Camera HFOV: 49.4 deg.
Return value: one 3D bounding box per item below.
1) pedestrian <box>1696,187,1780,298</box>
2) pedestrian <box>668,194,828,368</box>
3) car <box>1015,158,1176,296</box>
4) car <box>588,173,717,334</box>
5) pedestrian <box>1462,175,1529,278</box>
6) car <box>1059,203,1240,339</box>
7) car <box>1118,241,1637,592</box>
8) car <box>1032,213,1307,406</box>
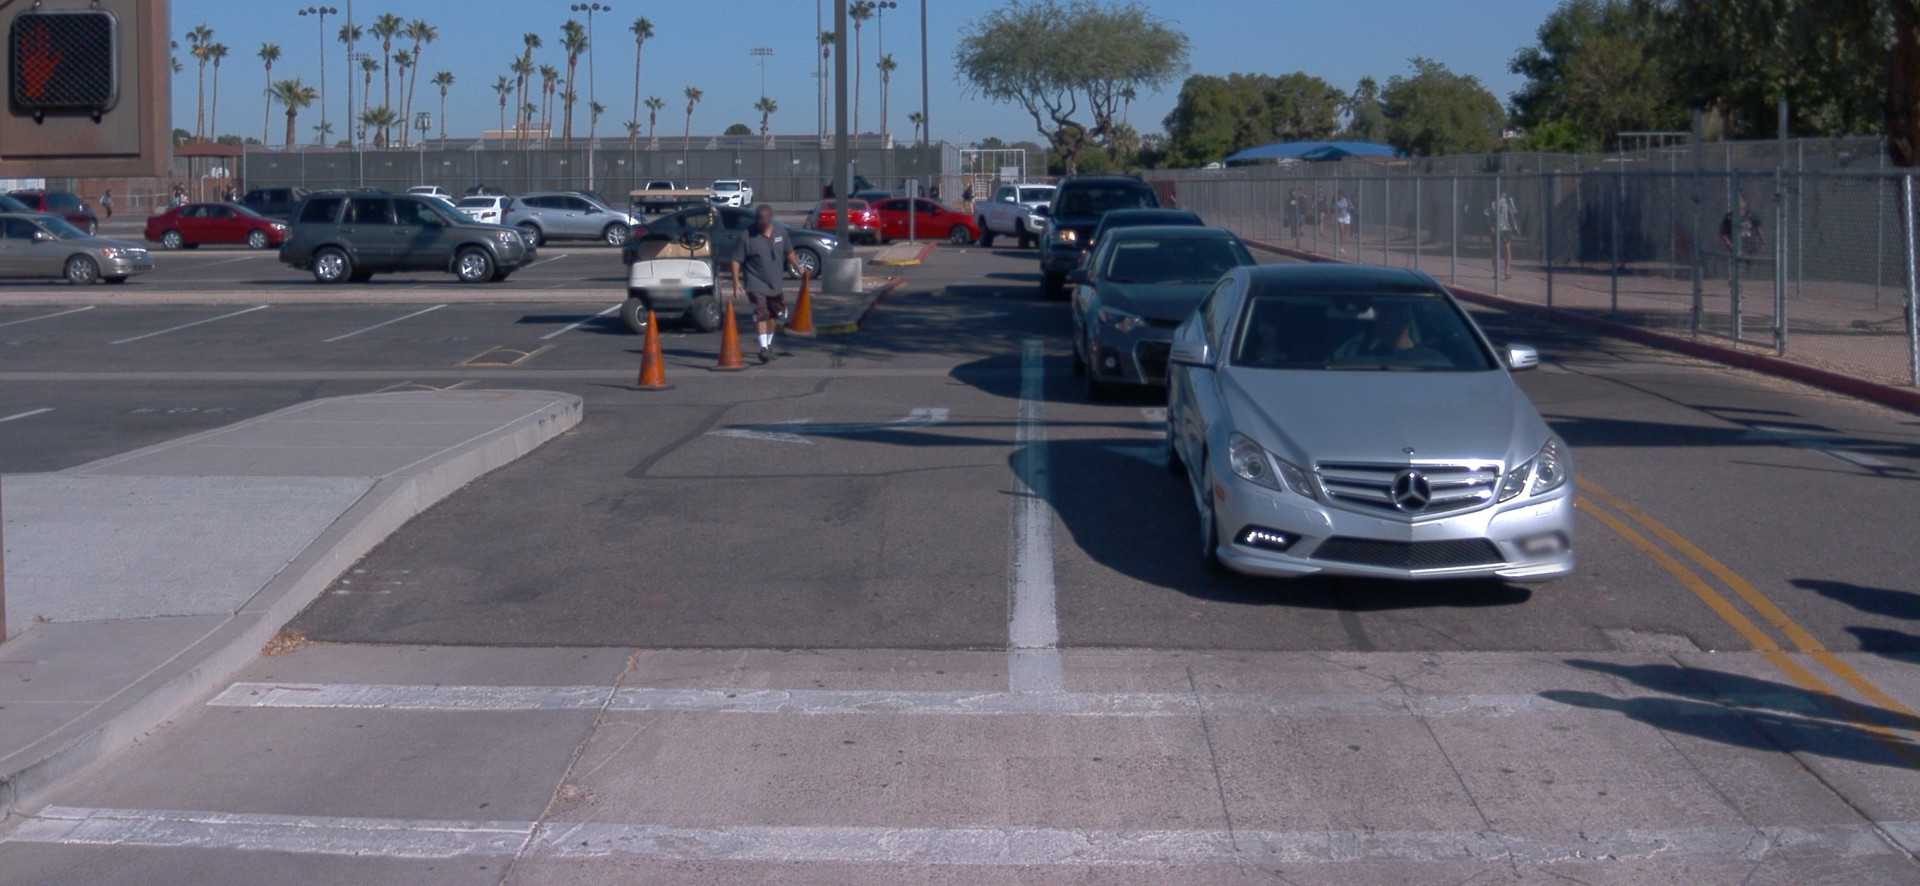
[{"bbox_3d":[12.295,-3.170,33.025,0.999,1.730,1.003,0,1,5],"label":"pedestrian"},{"bbox_3d":[-2.206,-1.700,21.688,1.250,1.739,1.128,-2,2,-37],"label":"pedestrian"},{"bbox_3d":[1.989,-3.296,32.107,2.123,1.964,4.632,0,4,-1],"label":"car"},{"bbox_3d":[-3.767,-2.355,25.877,1.334,1.876,2.803,0,4,-3],"label":"car"},{"bbox_3d":[9.699,-3.915,37.834,0.999,1.830,1.002,0,1,4],"label":"pedestrian"},{"bbox_3d":[2.243,-2.145,25.782,2.020,1.515,4.405,0,5,2],"label":"car"},{"bbox_3d":[2.012,-0.329,11.518,2.070,1.535,4.663,0,5,2],"label":"car"},{"bbox_3d":[1.742,-1.260,18.753,2.062,1.515,4.263,0,5,0],"label":"car"}]
